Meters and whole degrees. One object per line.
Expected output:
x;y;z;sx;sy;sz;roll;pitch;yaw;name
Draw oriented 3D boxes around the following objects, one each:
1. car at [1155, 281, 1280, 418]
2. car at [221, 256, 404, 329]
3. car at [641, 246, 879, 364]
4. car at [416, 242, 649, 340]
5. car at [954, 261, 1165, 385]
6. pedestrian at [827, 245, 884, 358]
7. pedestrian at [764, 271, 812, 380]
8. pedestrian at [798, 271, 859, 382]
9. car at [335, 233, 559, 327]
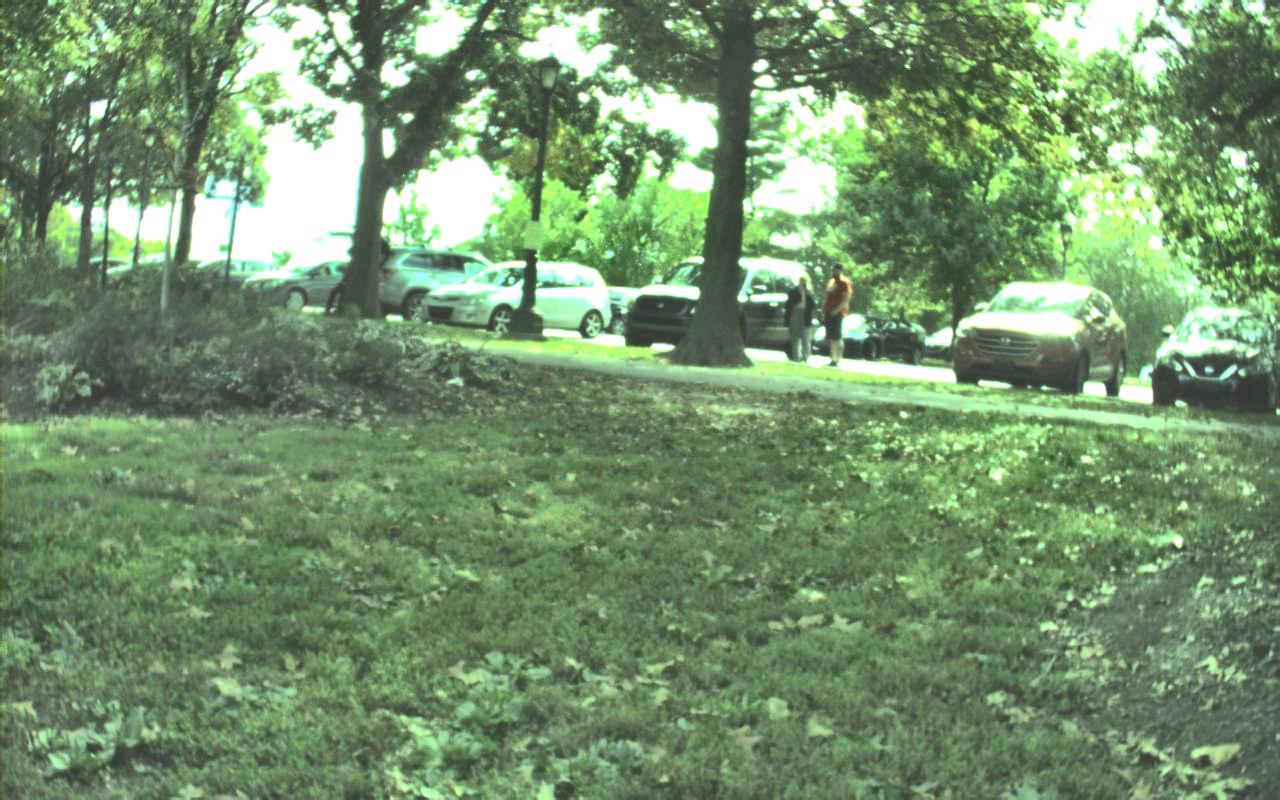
8.729;-0.597;15.467;4.513;1.615;1.953;-1;1;-42;car
-8.286;-2.646;31.131;1.947;1.605;4.418;1;1;42;car
2.200;-1.514;21.607;2.037;1.748;4.629;1;1;35;car
-2.109;-2.121;25.635;1.973;1.677;4.663;1;1;41;car
6.362;-1.030;17.893;1.960;1.604;4.522;1;1;37;car
3.703;-1.672;21.588;0.845;1.905;0.809;0;0;-2;pedestrian
2.519;-1.257;21.513;0.773;1.815;0.757;0;0;4;pedestrian
3.256;-1.248;21.759;0.766;1.869;0.759;1;0;40;pedestrian
-4.176;-2.535;27.334;4.602;1.749;1.982;-1;1;-42;car
